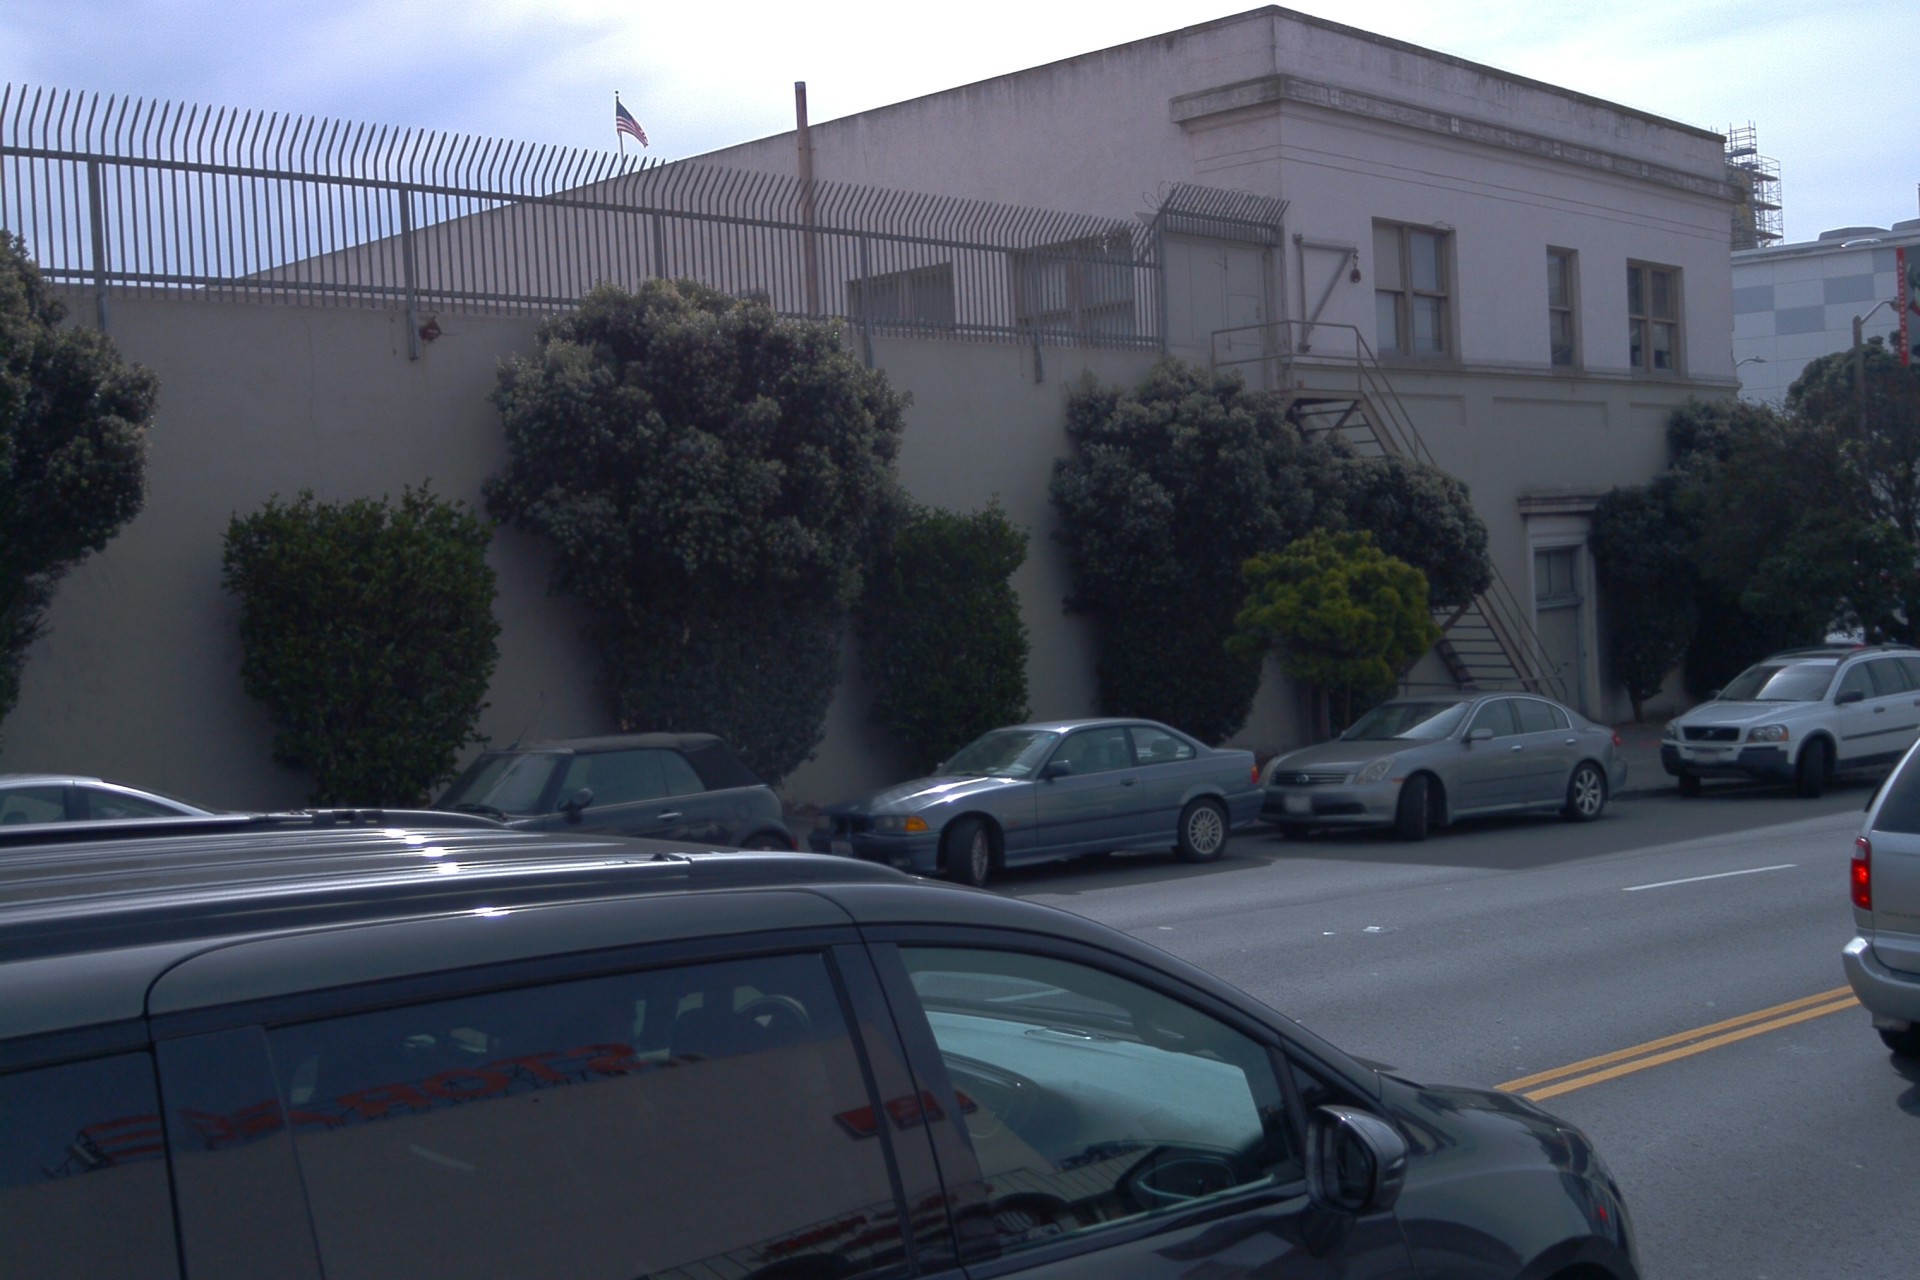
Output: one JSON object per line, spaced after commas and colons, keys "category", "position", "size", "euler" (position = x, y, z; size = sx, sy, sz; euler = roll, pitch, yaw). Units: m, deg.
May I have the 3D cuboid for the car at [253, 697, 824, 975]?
{"category": "car", "position": [-2.982, 1.305, 15.049], "size": [1.796, 1.600, 3.729], "euler": [1, 1, 44]}

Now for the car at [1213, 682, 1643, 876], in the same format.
{"category": "car", "position": [5.013, 1.358, 21.683], "size": [4.687, 1.660, 2.019], "euler": [-1, 1, -41]}

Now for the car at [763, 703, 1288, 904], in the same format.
{"category": "car", "position": [0.662, 1.357, 18.433], "size": [4.448, 1.390, 2.035], "euler": [-1, 1, -39]}
